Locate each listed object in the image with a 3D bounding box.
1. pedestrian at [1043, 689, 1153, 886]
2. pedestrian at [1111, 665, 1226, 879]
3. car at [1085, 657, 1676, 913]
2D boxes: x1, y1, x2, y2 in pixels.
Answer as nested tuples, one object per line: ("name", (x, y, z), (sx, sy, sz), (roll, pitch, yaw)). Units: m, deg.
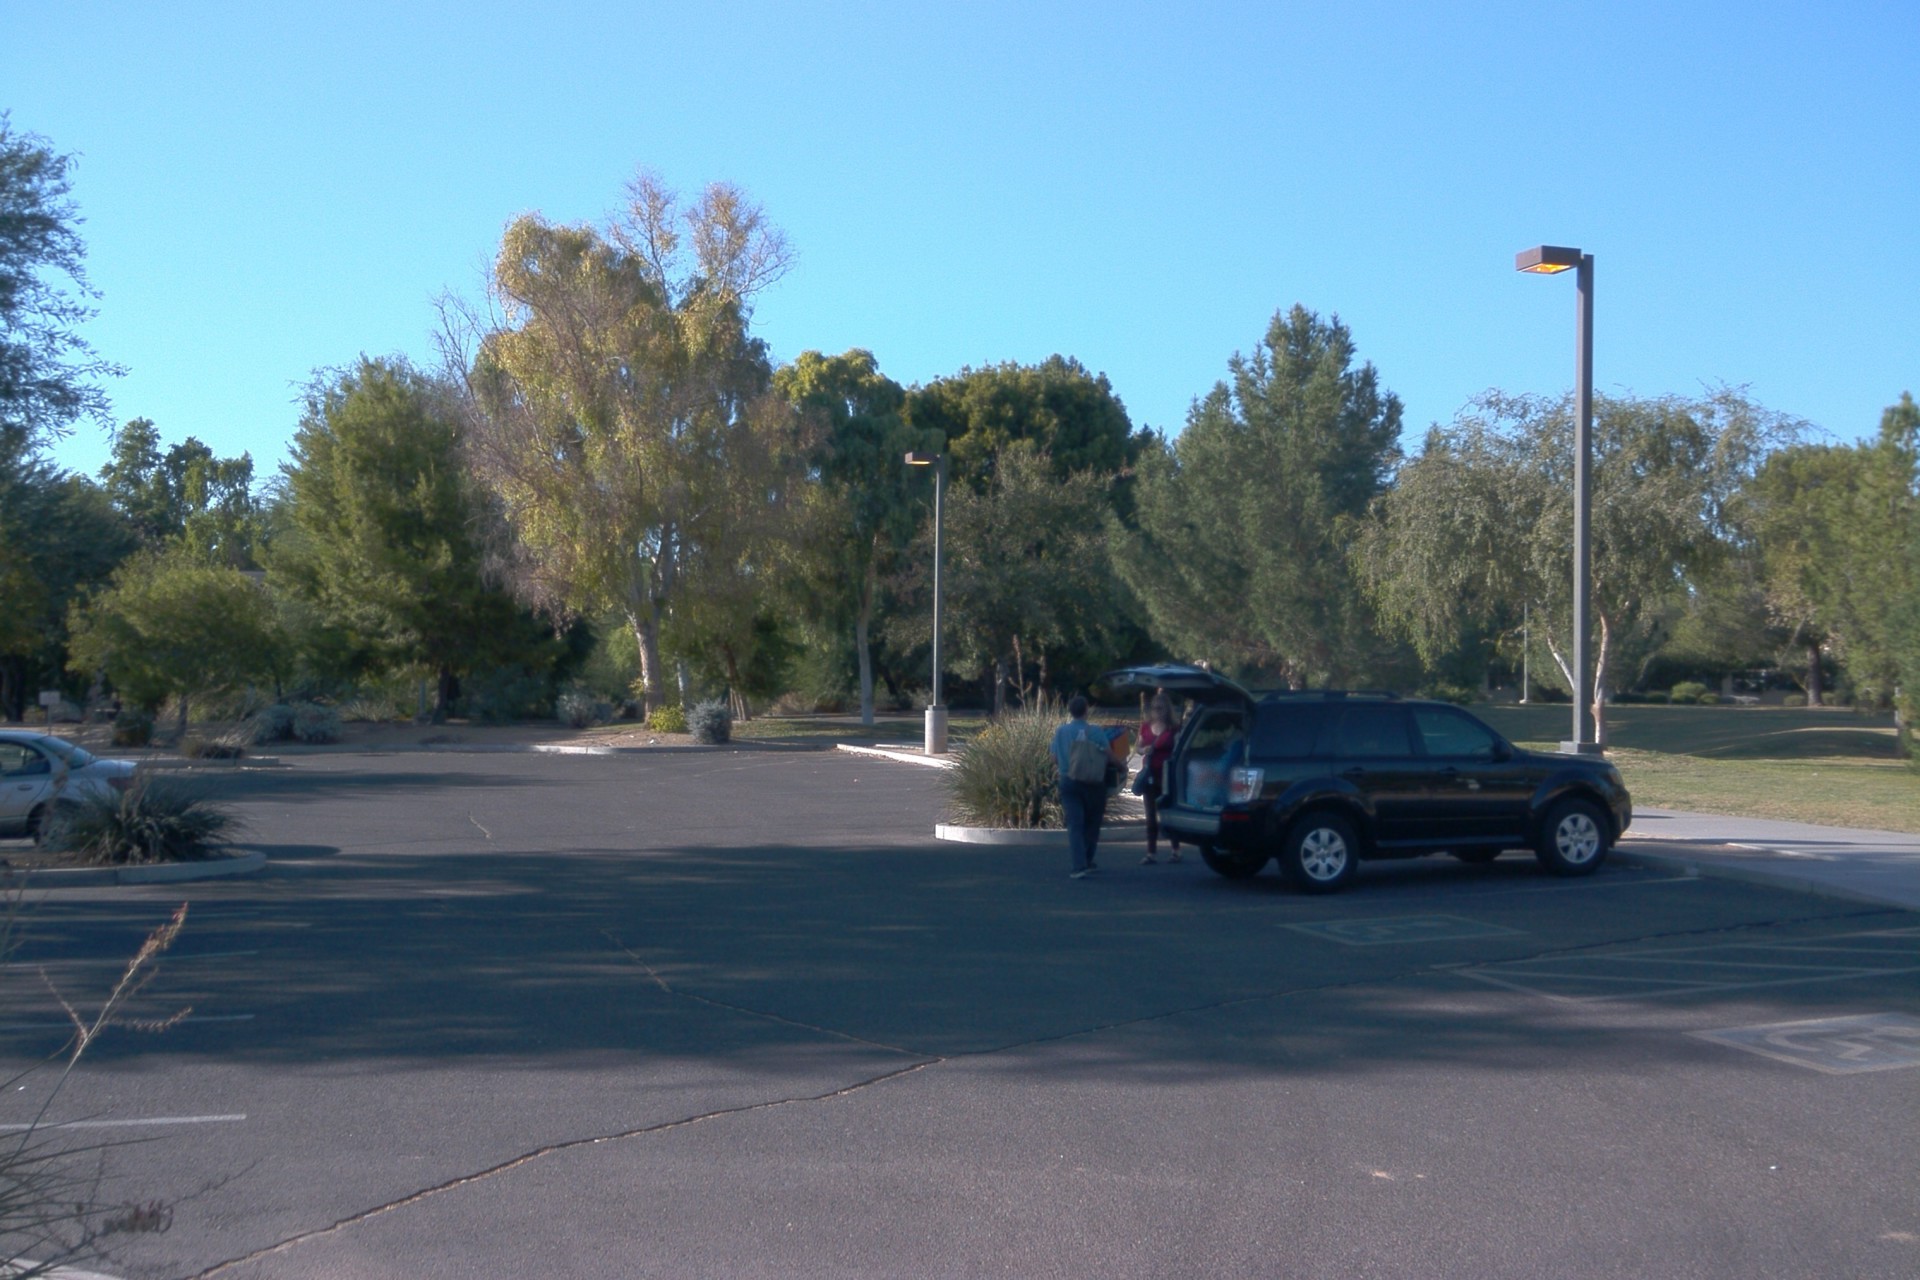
("pedestrian", (1.299, 1.381, 19.829), (1.000, 1.790, 1.000), (1, 0, 2))
("pedestrian", (2.076, 1.282, 20.634), (0.888, 2.040, 0.888), (1, 0, 23))
("car", (3.806, 1.241, 18.983), (4.891, 2.100, 2.058), (1, 0, -18))
